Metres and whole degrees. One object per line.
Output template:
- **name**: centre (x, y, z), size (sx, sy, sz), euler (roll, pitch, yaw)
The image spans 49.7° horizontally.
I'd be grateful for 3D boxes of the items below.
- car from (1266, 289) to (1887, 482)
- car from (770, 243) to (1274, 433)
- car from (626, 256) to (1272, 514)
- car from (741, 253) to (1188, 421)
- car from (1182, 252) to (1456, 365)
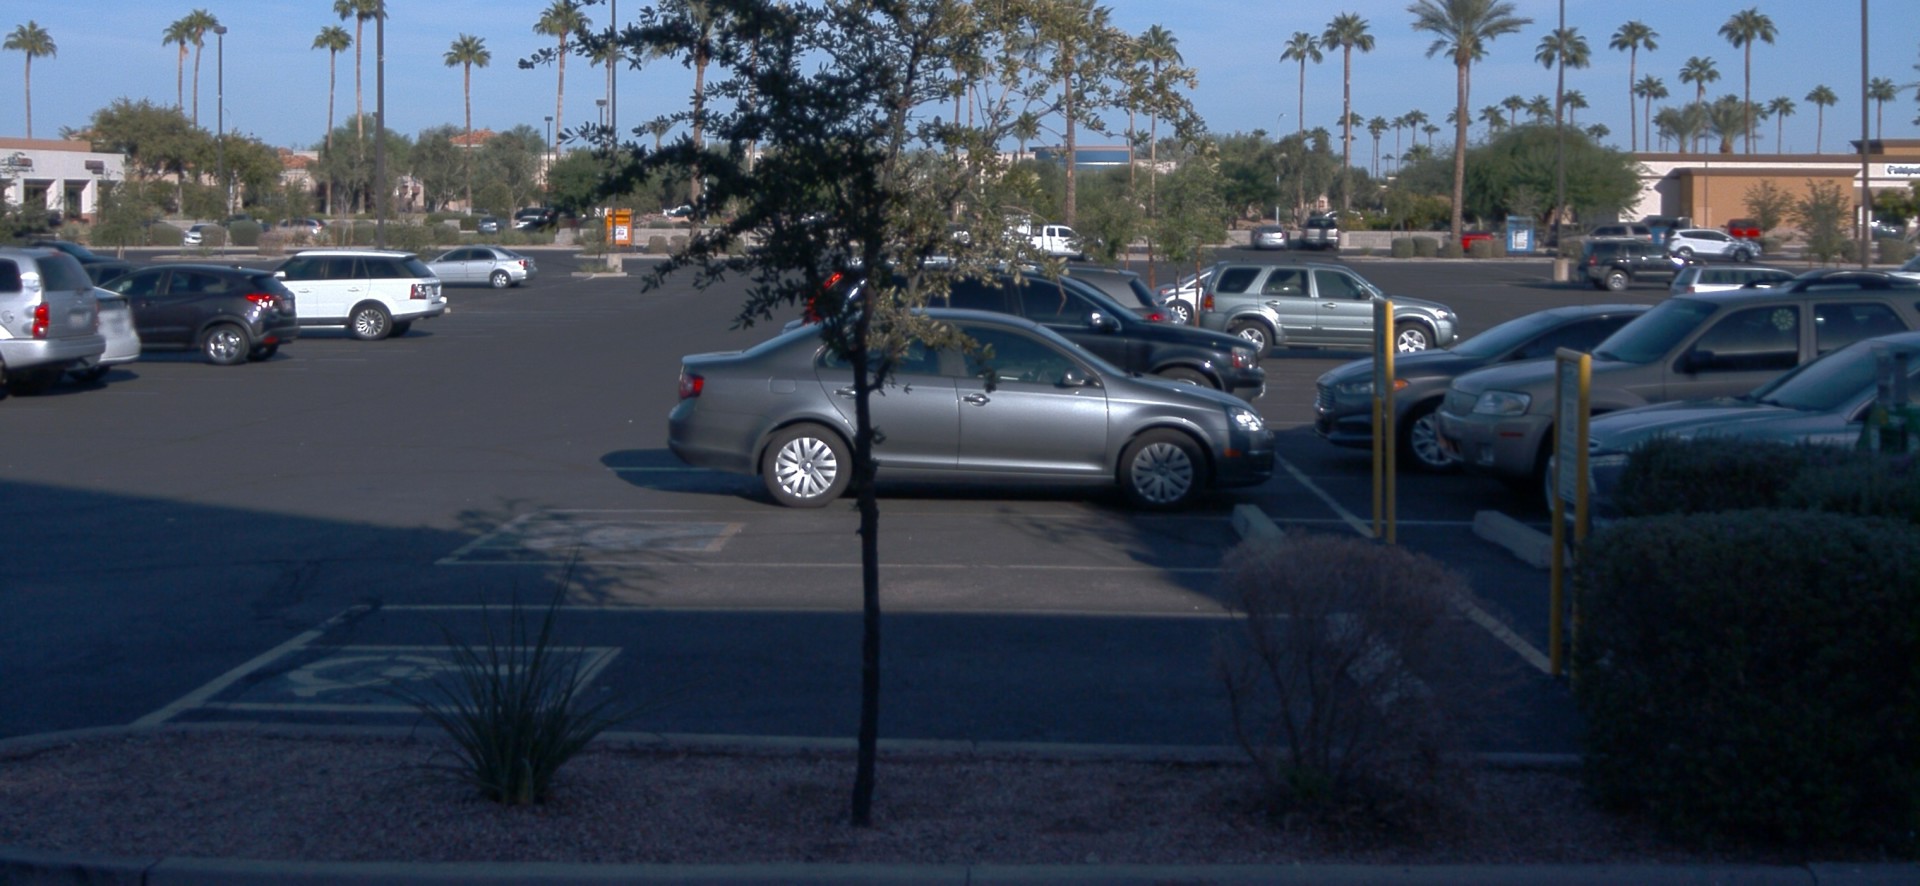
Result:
- **car**: centre (5.404, -0.573, 18.650), size (4.885, 1.494, 2.234), euler (-1, 5, -4)
- **car**: centre (0.609, -1.149, 21.656), size (4.989, 1.813, 2.282), euler (0, 5, 0)
- **car**: centre (-0.085, -0.513, 15.976), size (4.651, 1.794, 2.080), euler (0, 4, -1)
- **car**: centre (0.065, -1.309, 24.746), size (5.088, 1.843, 2.261), euler (0, 4, 0)
- **car**: centre (6.072, -2.338, 35.568), size (4.495, 1.814, 2.046), euler (0, 4, 5)
